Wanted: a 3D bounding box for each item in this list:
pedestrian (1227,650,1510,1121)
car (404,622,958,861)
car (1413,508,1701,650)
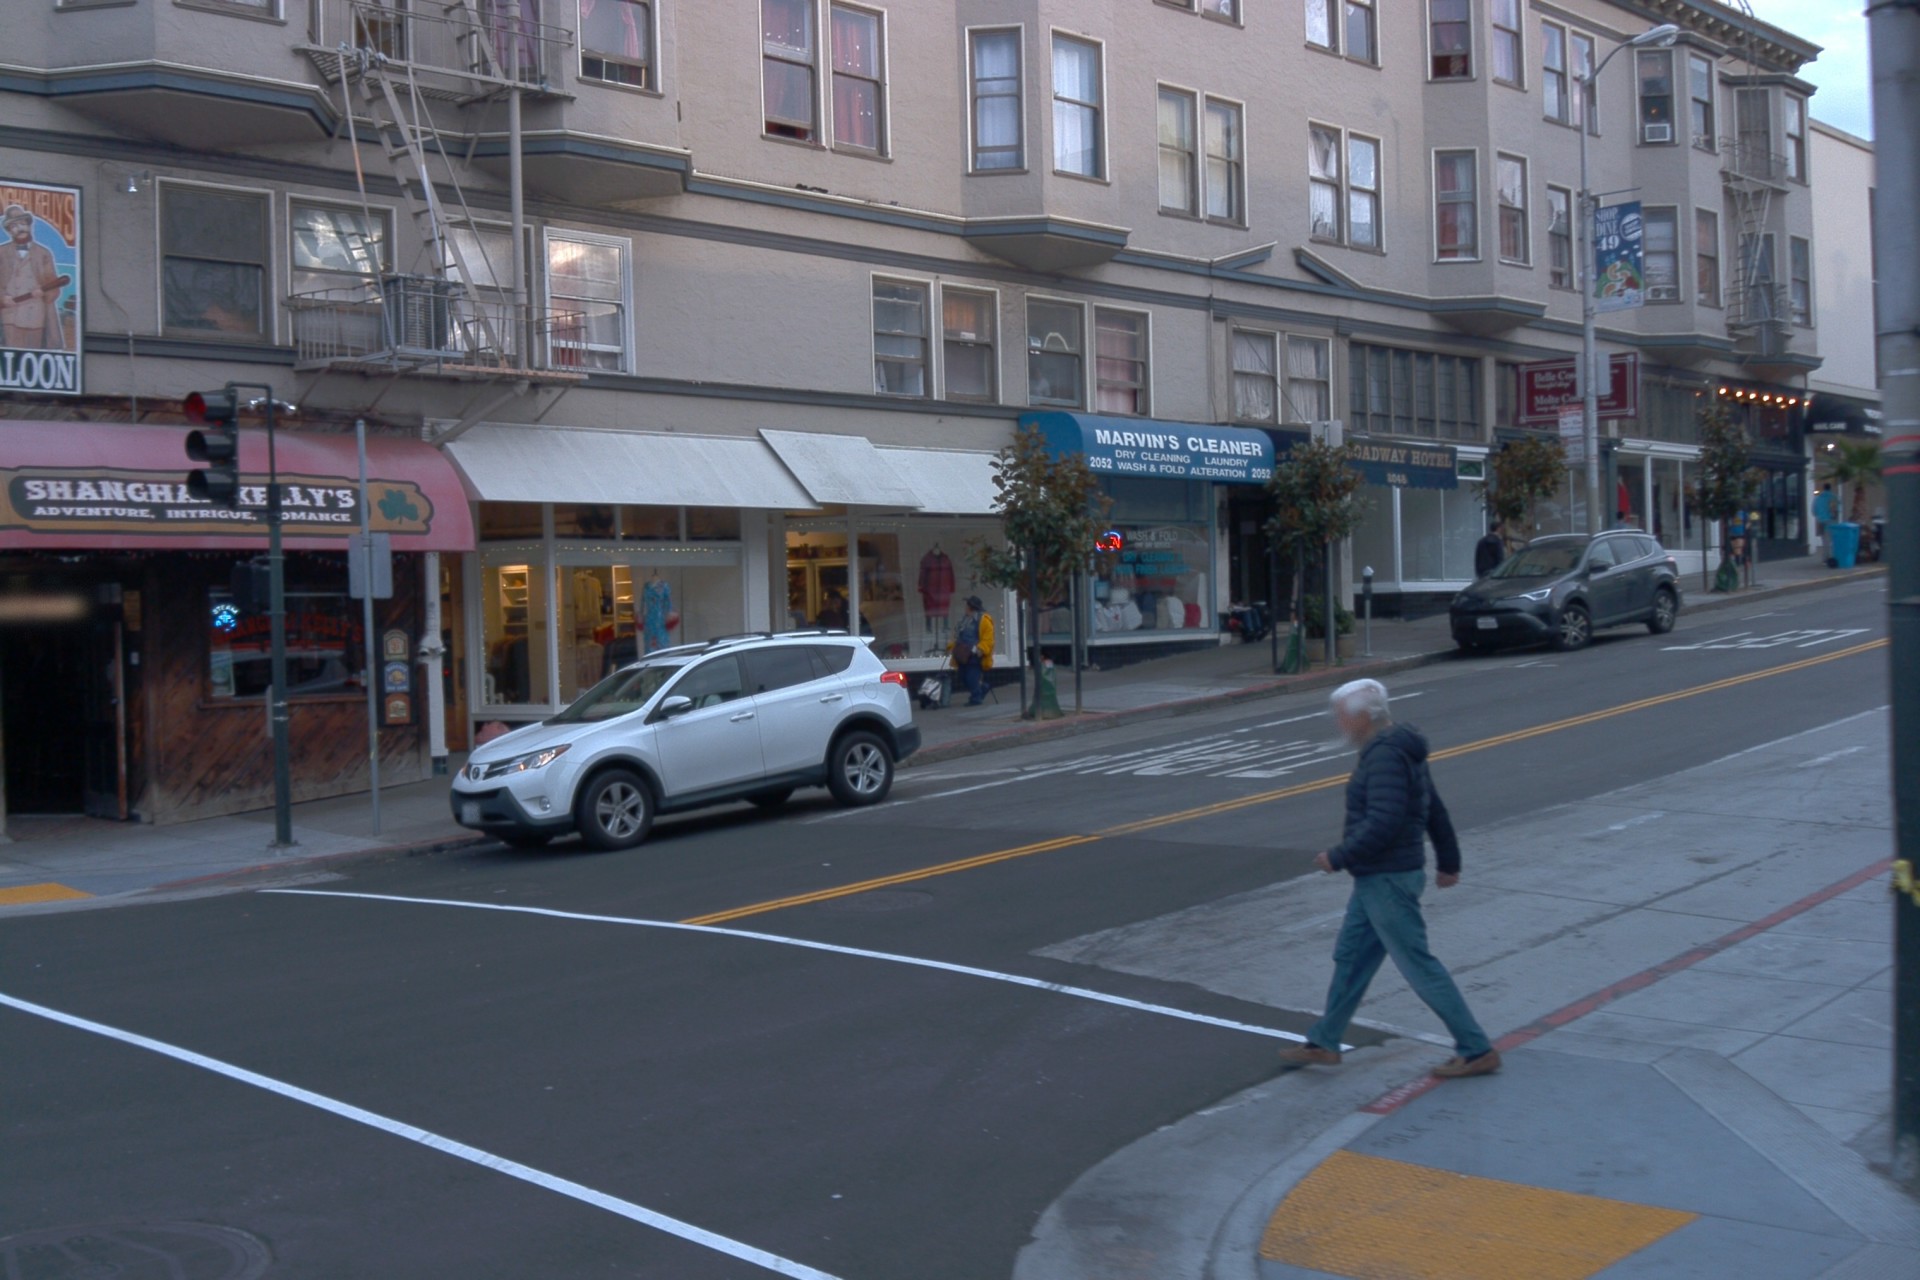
[{"bbox_3d":[1.787,0.996,8.904,1.082,1.890,0.893,1,0,18],"label":"pedestrian"},{"bbox_3d":[-2.500,0.824,18.999,4.555,1.930,2.267,0,0,-40],"label":"car"},{"bbox_3d":[9.137,-0.867,31.292,4.424,2.000,2.160,0,0,-42],"label":"car"}]
